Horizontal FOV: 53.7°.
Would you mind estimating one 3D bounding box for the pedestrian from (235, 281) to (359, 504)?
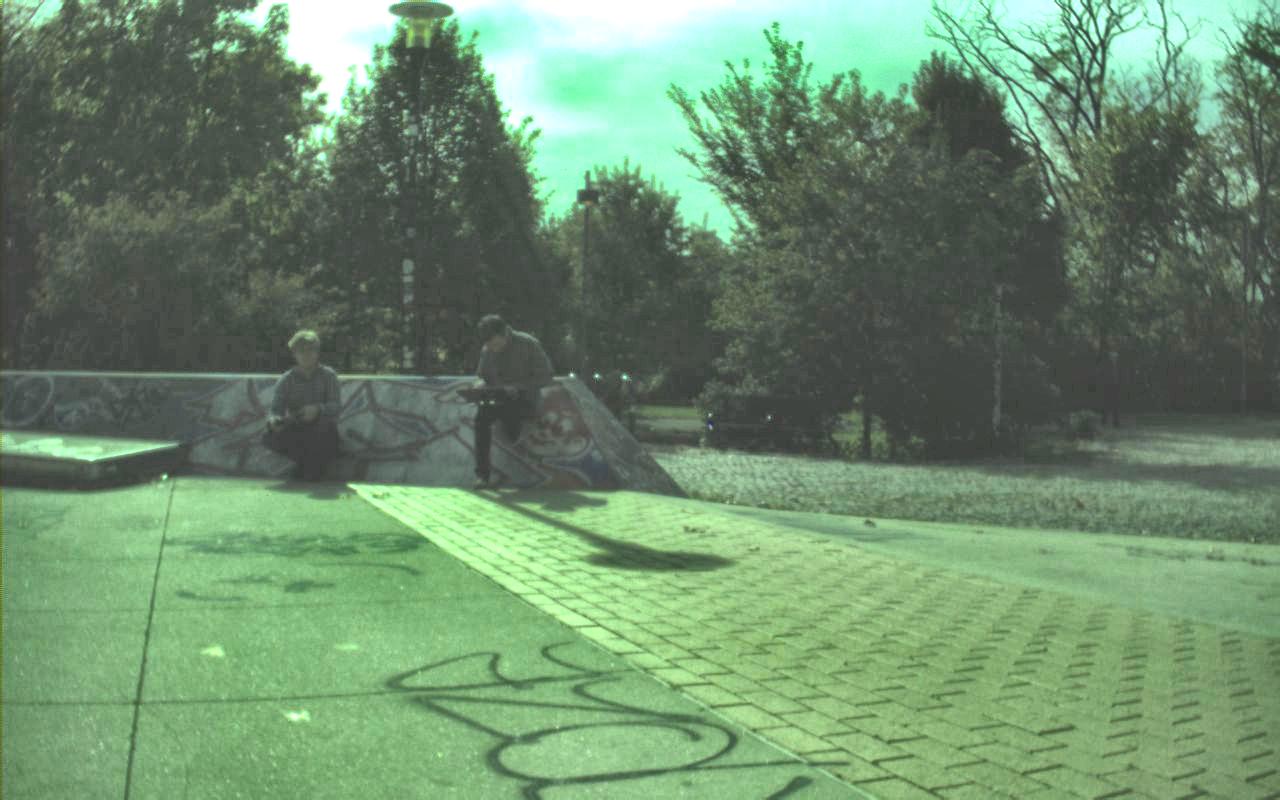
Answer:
[{"bbox_3d":[-2.521,-0.056,9.005,0.867,1.573,0.826,0,0,-10],"label":"pedestrian"}]

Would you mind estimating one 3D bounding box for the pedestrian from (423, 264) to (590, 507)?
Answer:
[{"bbox_3d":[-0.958,-0.109,8.951,0.819,1.616,0.863,1,0,43],"label":"pedestrian"}]
